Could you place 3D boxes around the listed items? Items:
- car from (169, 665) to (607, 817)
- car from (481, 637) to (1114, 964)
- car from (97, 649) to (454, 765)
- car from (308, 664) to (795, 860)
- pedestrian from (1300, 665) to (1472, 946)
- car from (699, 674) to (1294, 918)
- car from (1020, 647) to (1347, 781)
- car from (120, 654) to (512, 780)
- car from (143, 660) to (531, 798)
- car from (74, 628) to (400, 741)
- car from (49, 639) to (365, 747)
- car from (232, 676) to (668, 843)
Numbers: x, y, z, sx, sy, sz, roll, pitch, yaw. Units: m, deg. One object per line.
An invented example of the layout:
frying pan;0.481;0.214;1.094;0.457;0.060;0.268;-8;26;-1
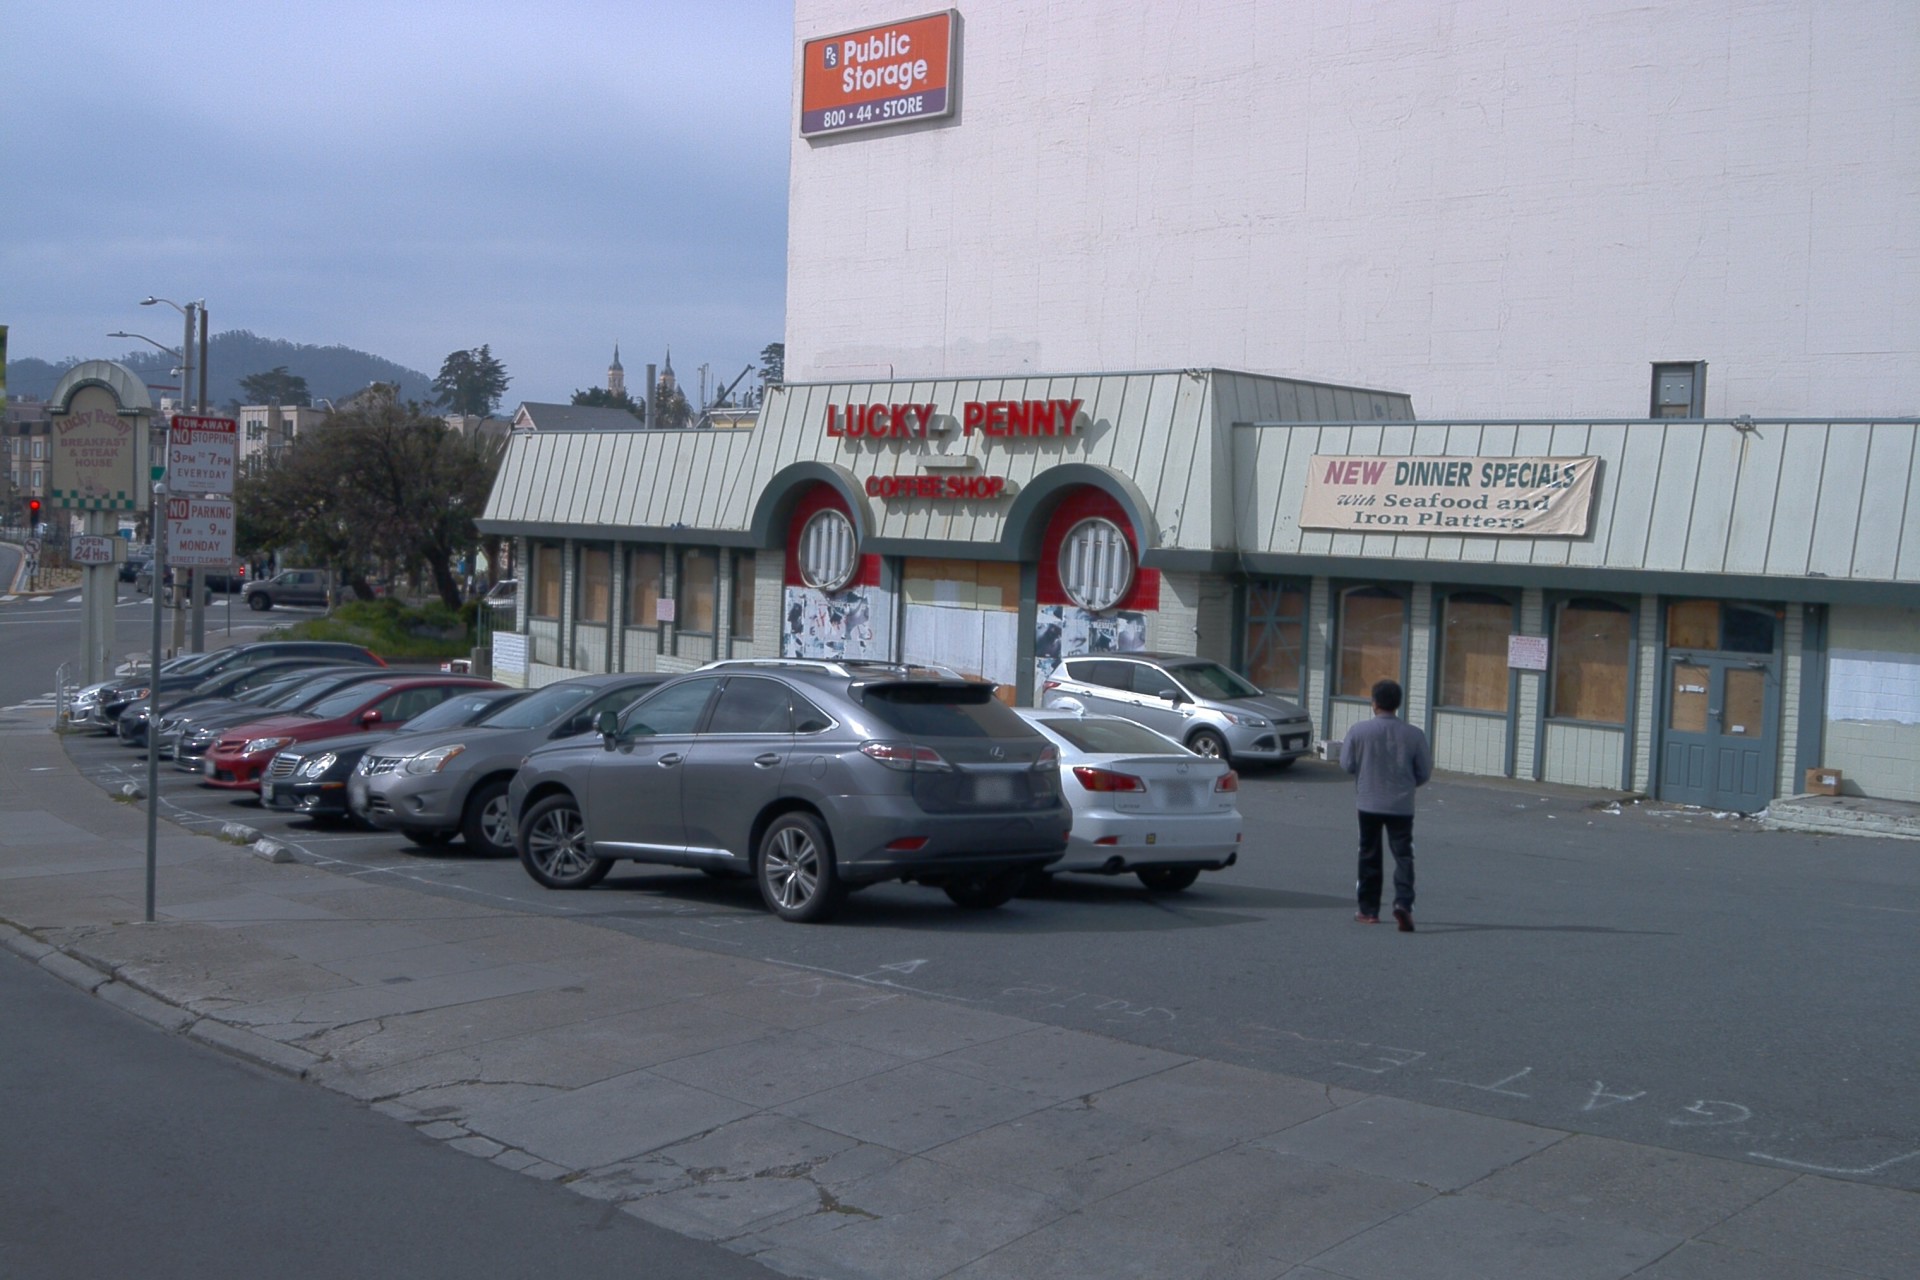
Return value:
car;-6.657;1.107;24.116;4.484;1.550;2.134;0;0;-44
car;-1.292;0.966;14.599;2.065;1.920;4.493;0;0;-45
car;-10.337;0.953;31.104;4.651;1.610;2.192;0;0;-43
car;-3.715;1.034;19.045;1.975;1.570;4.019;1;0;44
pedestrian;2.778;1.052;13.464;0.943;1.744;1.076;1;0;3
car;0.159;1.130;16.691;2.088;1.580;4.738;0;0;-44
car;3.289;1.036;30.718;2.134;1.790;4.557;0;0;-44
car;-8.982;1.007;28.781;4.736;1.590;2.241;0;0;-44
car;-7.973;1.074;26.409;4.343;1.580;1.994;0;0;-43
car;-11.717;0.677;33.334;4.561;1.710;2.059;0;0;-43
car;-13.134;0.880;35.854;4.757;1.740;2.072;0;0;-43
car;-5.264;1.167;21.426;4.029;1.500;1.869;0;0;-45
